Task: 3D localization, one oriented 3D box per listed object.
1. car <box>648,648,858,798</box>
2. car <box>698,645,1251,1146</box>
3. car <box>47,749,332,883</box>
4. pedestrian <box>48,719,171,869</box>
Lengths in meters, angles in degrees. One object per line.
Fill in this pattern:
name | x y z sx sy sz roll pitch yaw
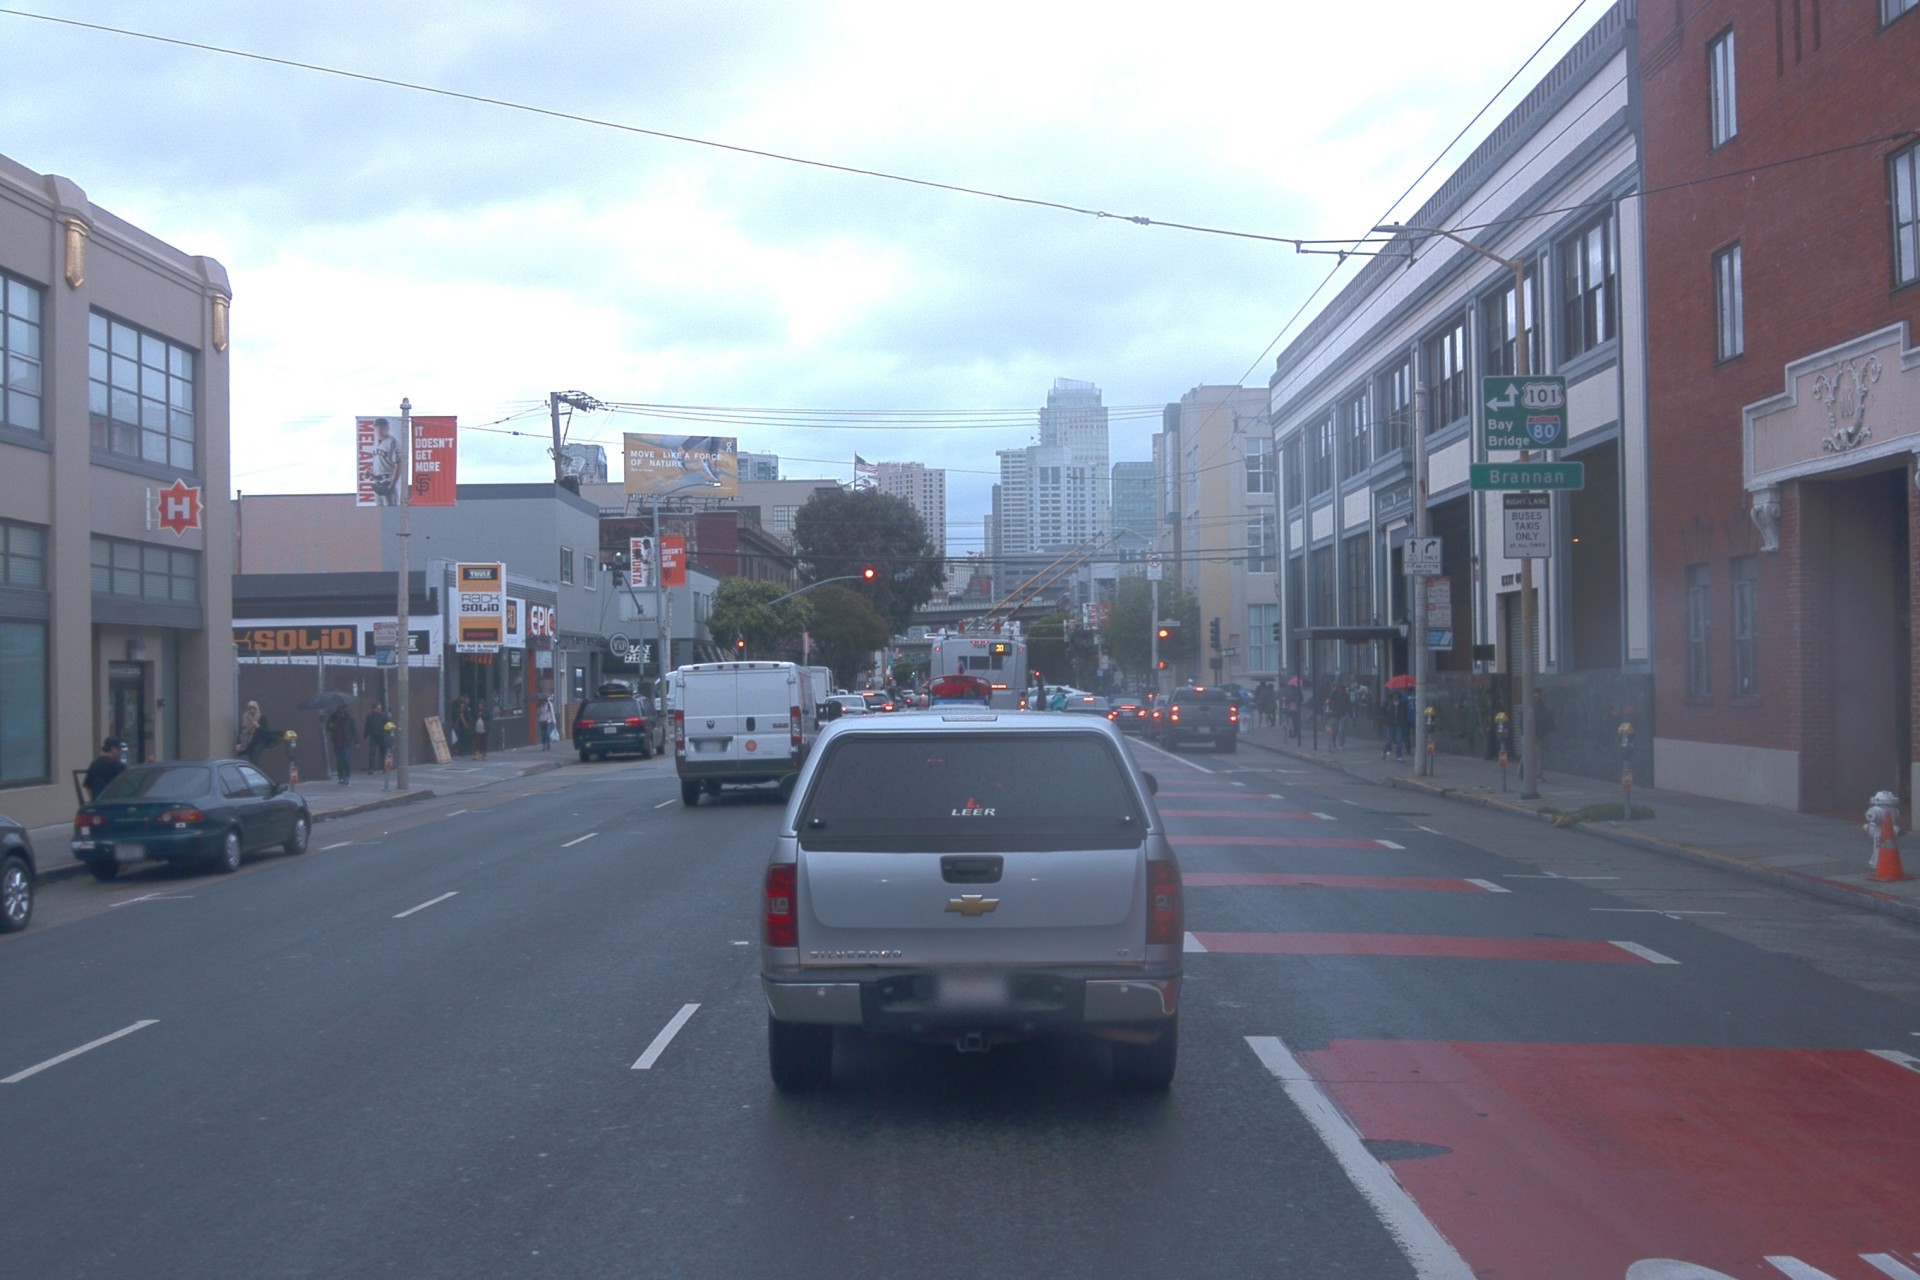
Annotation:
car | -3.403 1.347 35.626 2.862 2.340 6.175 0 -1 1
car | 0.039 1.161 11.621 2.437 2.200 4.924 0 -1 -1
car | -9.237 2.073 25.256 1.823 1.328 4.293 0 -1 1
pedestrian | -10.408 1.865 25.383 1.115 1.767 0.852 0 -1 25
